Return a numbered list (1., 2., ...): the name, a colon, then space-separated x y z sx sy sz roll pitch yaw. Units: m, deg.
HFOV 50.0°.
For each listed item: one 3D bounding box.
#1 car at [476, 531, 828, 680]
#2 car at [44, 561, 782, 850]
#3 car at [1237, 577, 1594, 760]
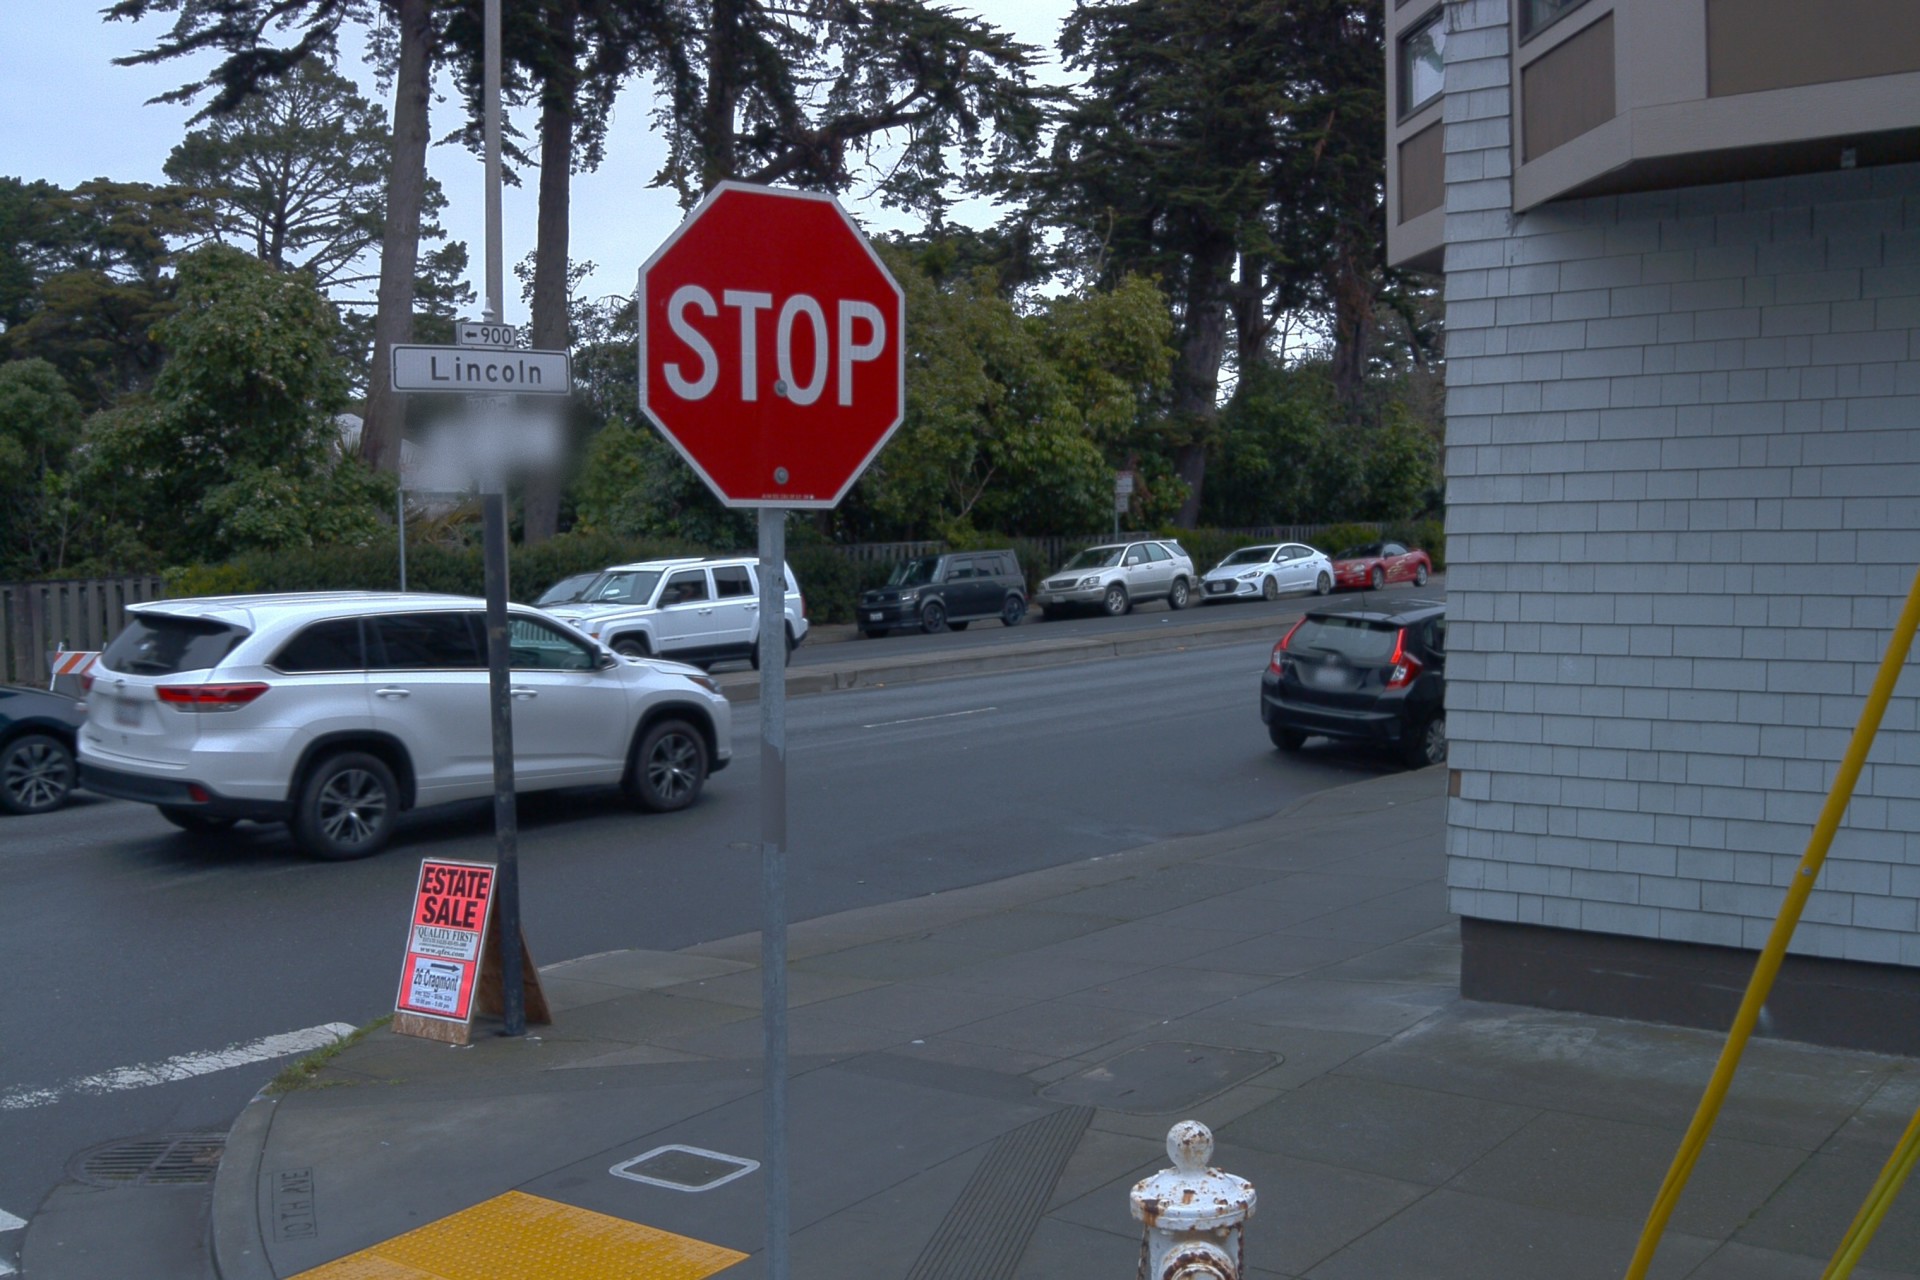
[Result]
1. car: -4.026 -0.418 27.518 2.095 1.820 4.357 0 0 40
2. car: -3.791 0.402 15.113 2.100 1.760 4.933 0 0 39
3. car: 4.553 0.256 20.255 1.835 1.620 3.815 0 0 41
